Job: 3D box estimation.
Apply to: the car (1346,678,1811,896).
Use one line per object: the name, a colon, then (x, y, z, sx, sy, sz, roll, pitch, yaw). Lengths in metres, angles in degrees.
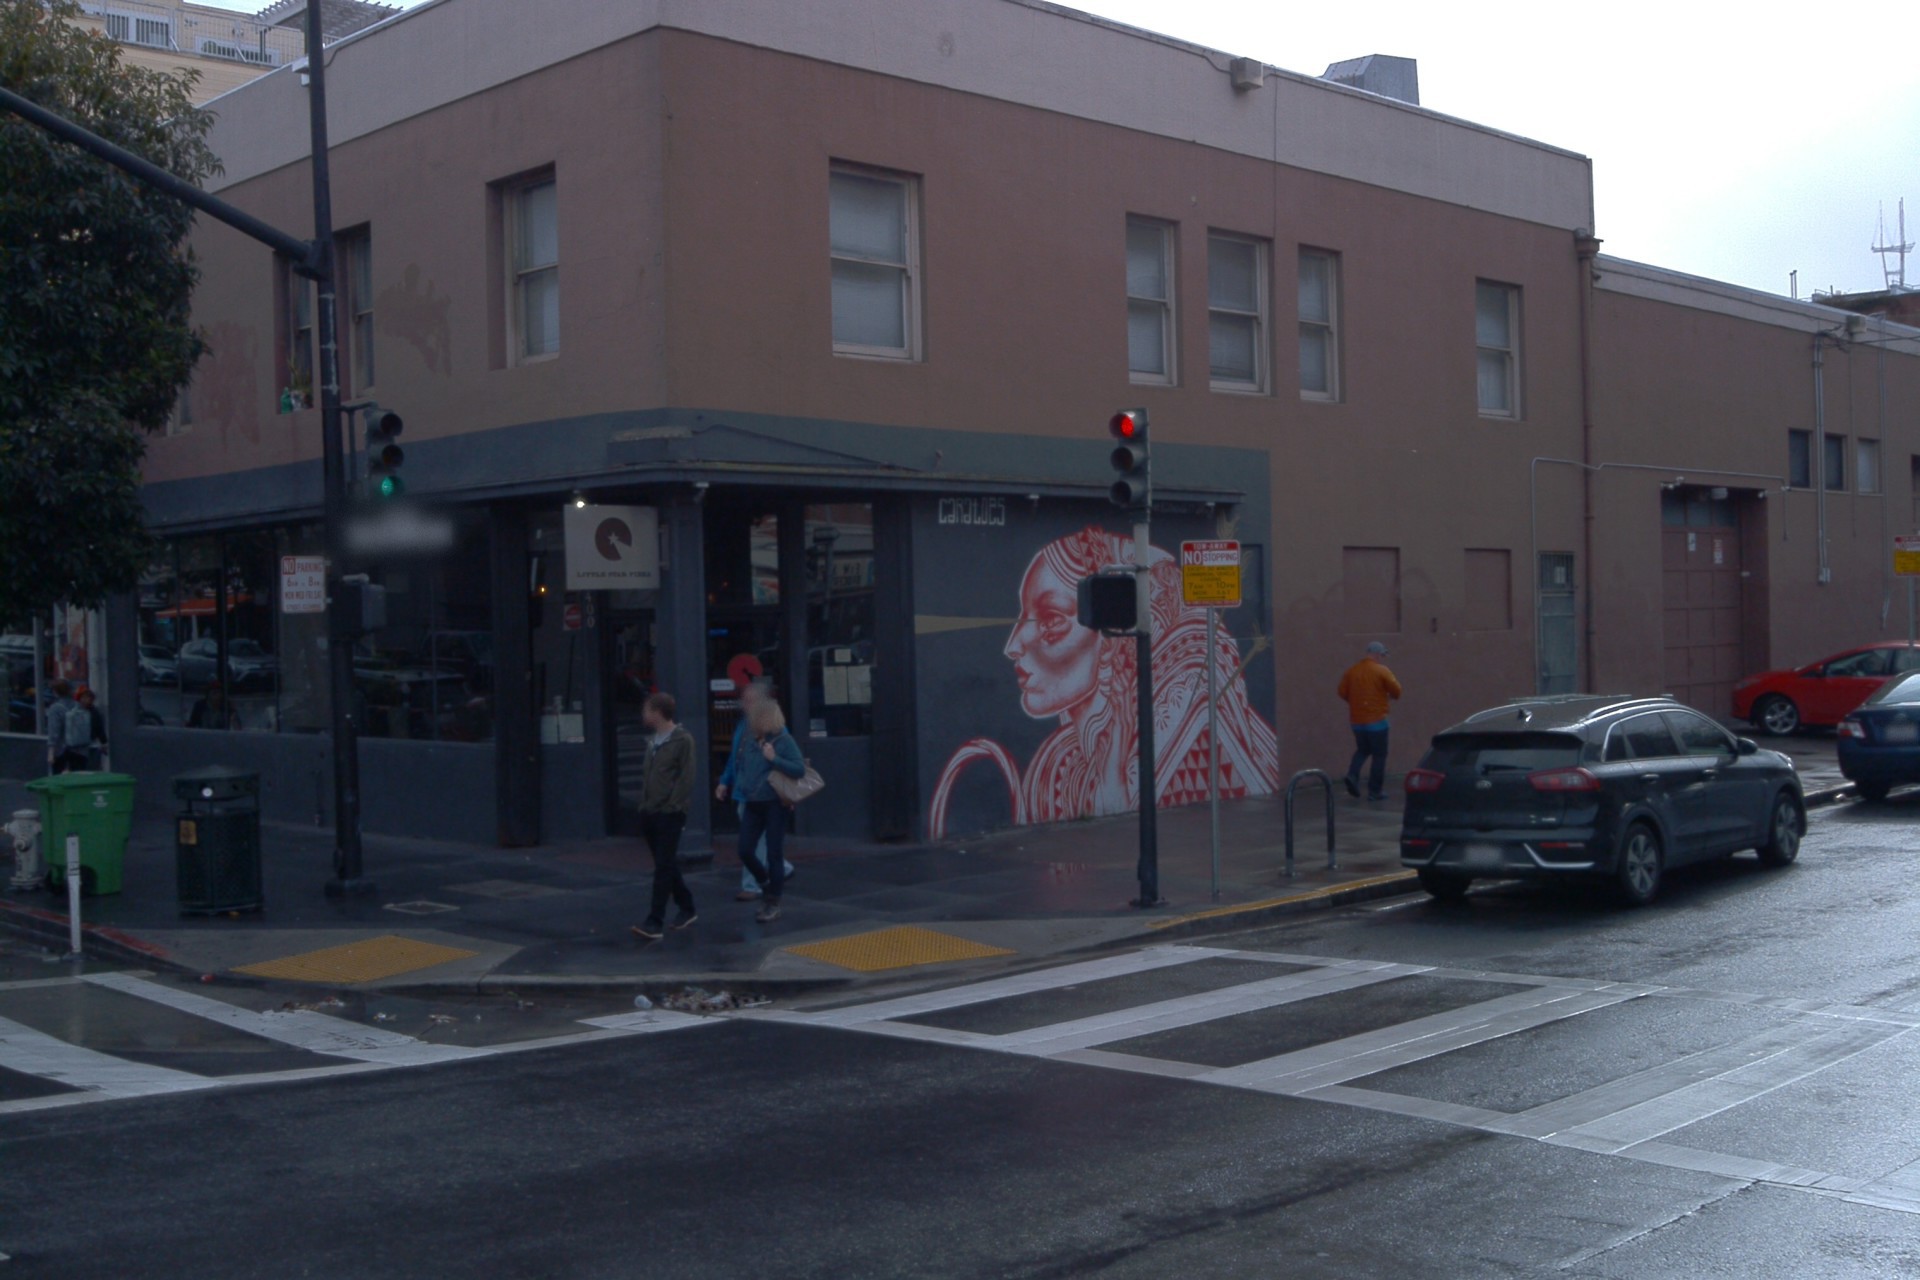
car: (5.290, 1.117, 17.183, 1.972, 1.510, 4.267, 1, 0, 44)

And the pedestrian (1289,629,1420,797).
pedestrian: (4.383, 0.787, 22.733, 1.086, 1.800, 0.943, 0, 1, -42)

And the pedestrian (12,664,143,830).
pedestrian: (-9.952, 1.179, 23.074, 0.925, 1.800, 0.996, 1, 0, 32)

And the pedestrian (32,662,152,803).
pedestrian: (-10.601, 1.102, 24.983, 0.987, 1.650, 1.007, 1, 1, 41)

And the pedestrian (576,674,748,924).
pedestrian: (-2.215, 1.145, 15.235, 0.885, 1.760, 0.888, 1, 0, 32)

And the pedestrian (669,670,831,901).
pedestrian: (-1.717, 1.151, 16.724, 0.933, 1.790, 0.904, 1, 1, 42)

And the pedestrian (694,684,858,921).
pedestrian: (-1.411, 1.219, 15.741, 0.885, 1.720, 0.888, 1, 0, 32)
